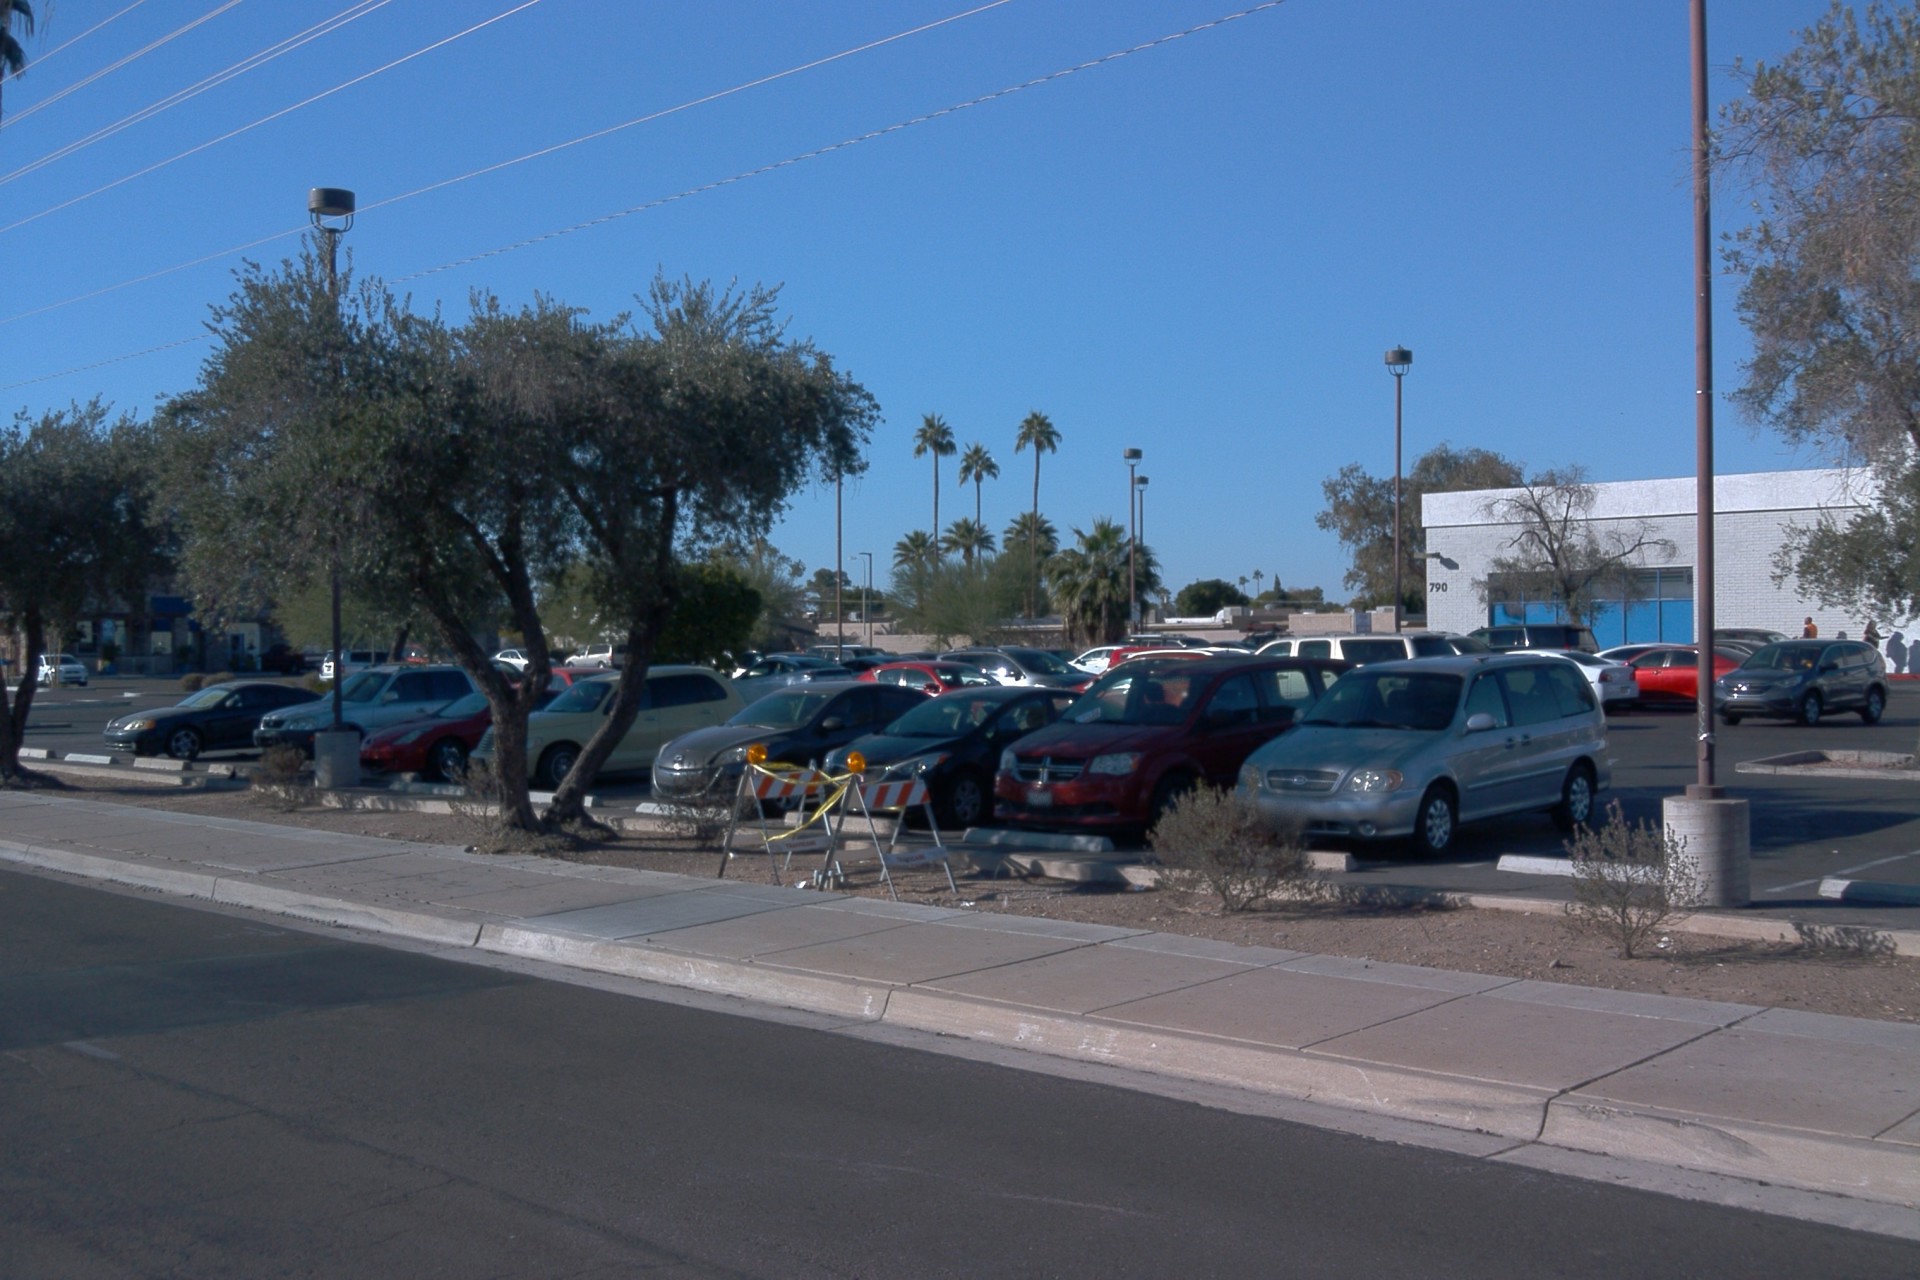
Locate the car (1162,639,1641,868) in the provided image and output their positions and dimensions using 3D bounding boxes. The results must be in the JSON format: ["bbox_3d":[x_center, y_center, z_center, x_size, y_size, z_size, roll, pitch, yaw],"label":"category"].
[{"bbox_3d":[4.334,0.962,19.711,2.296,1.890,4.980,-1,-1,41],"label":"car"}]

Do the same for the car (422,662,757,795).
[{"bbox_3d":[-5.185,1.189,29.225,4.233,1.720,1.943,0,-1,-39],"label":"car"}]

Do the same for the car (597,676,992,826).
[{"bbox_3d":[-1.894,1.249,24.773,2.001,1.590,4.526,-1,-1,43],"label":"car"}]

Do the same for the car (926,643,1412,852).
[{"bbox_3d":[2.310,1.005,21.494,2.316,1.890,5.318,-1,-1,42],"label":"car"}]

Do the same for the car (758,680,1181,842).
[{"bbox_3d":[0.214,1.266,23.297,2.117,1.580,4.775,-1,-1,42],"label":"car"}]

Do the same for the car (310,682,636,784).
[{"bbox_3d":[-7.284,1.350,31.211,4.385,1.380,1.946,0,-1,-42],"label":"car"}]

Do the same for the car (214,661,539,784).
[{"bbox_3d":[-9.234,1.252,32.991,2.110,1.800,4.547,-1,-1,43],"label":"car"}]

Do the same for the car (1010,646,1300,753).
[{"bbox_3d":[3.316,0.995,35.772,4.628,1.730,2.150,-1,-1,43],"label":"car"}]
